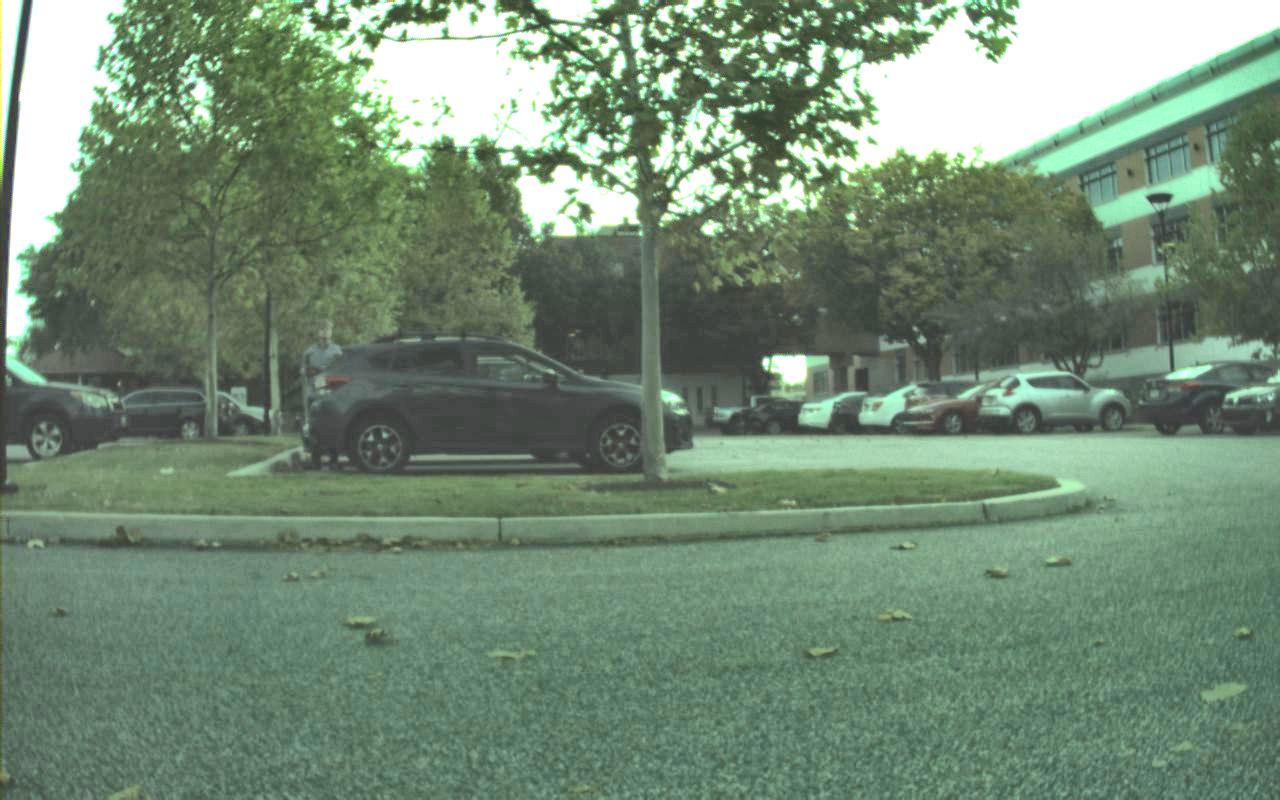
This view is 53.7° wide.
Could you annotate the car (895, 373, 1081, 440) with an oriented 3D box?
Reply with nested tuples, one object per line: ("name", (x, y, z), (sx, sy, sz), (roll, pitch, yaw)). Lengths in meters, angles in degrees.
("car", (9.298, 0.166, 32.761), (4.675, 1.687, 1.996), (0, 1, -9))

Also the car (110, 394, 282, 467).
("car", (-11.693, 0.836, 31.399), (4.634, 1.785, 2.075), (0, 1, -16))

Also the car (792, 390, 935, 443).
("car", (7.688, 0.562, 43.074), (4.583, 1.719, 1.994), (0, 1, -8))

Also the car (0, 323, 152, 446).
("car", (-9.413, -0.211, 16.154), (4.571, 1.642, 2.004), (0, 1, -7))

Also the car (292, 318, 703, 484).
("car", (-1.730, 0.002, 14.479), (4.527, 1.768, 1.967), (0, 1, -13))

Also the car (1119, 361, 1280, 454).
("car", (11.743, 0.163, 22.509), (4.602, 1.689, 1.997), (0, 1, -9))

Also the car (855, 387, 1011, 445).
("car", (9.010, 0.482, 38.121), (4.465, 1.687, 1.952), (0, 1, -7))

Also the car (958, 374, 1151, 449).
("car", (10.409, 0.285, 30.315), (4.619, 1.769, 1.992), (0, 1, -9))
